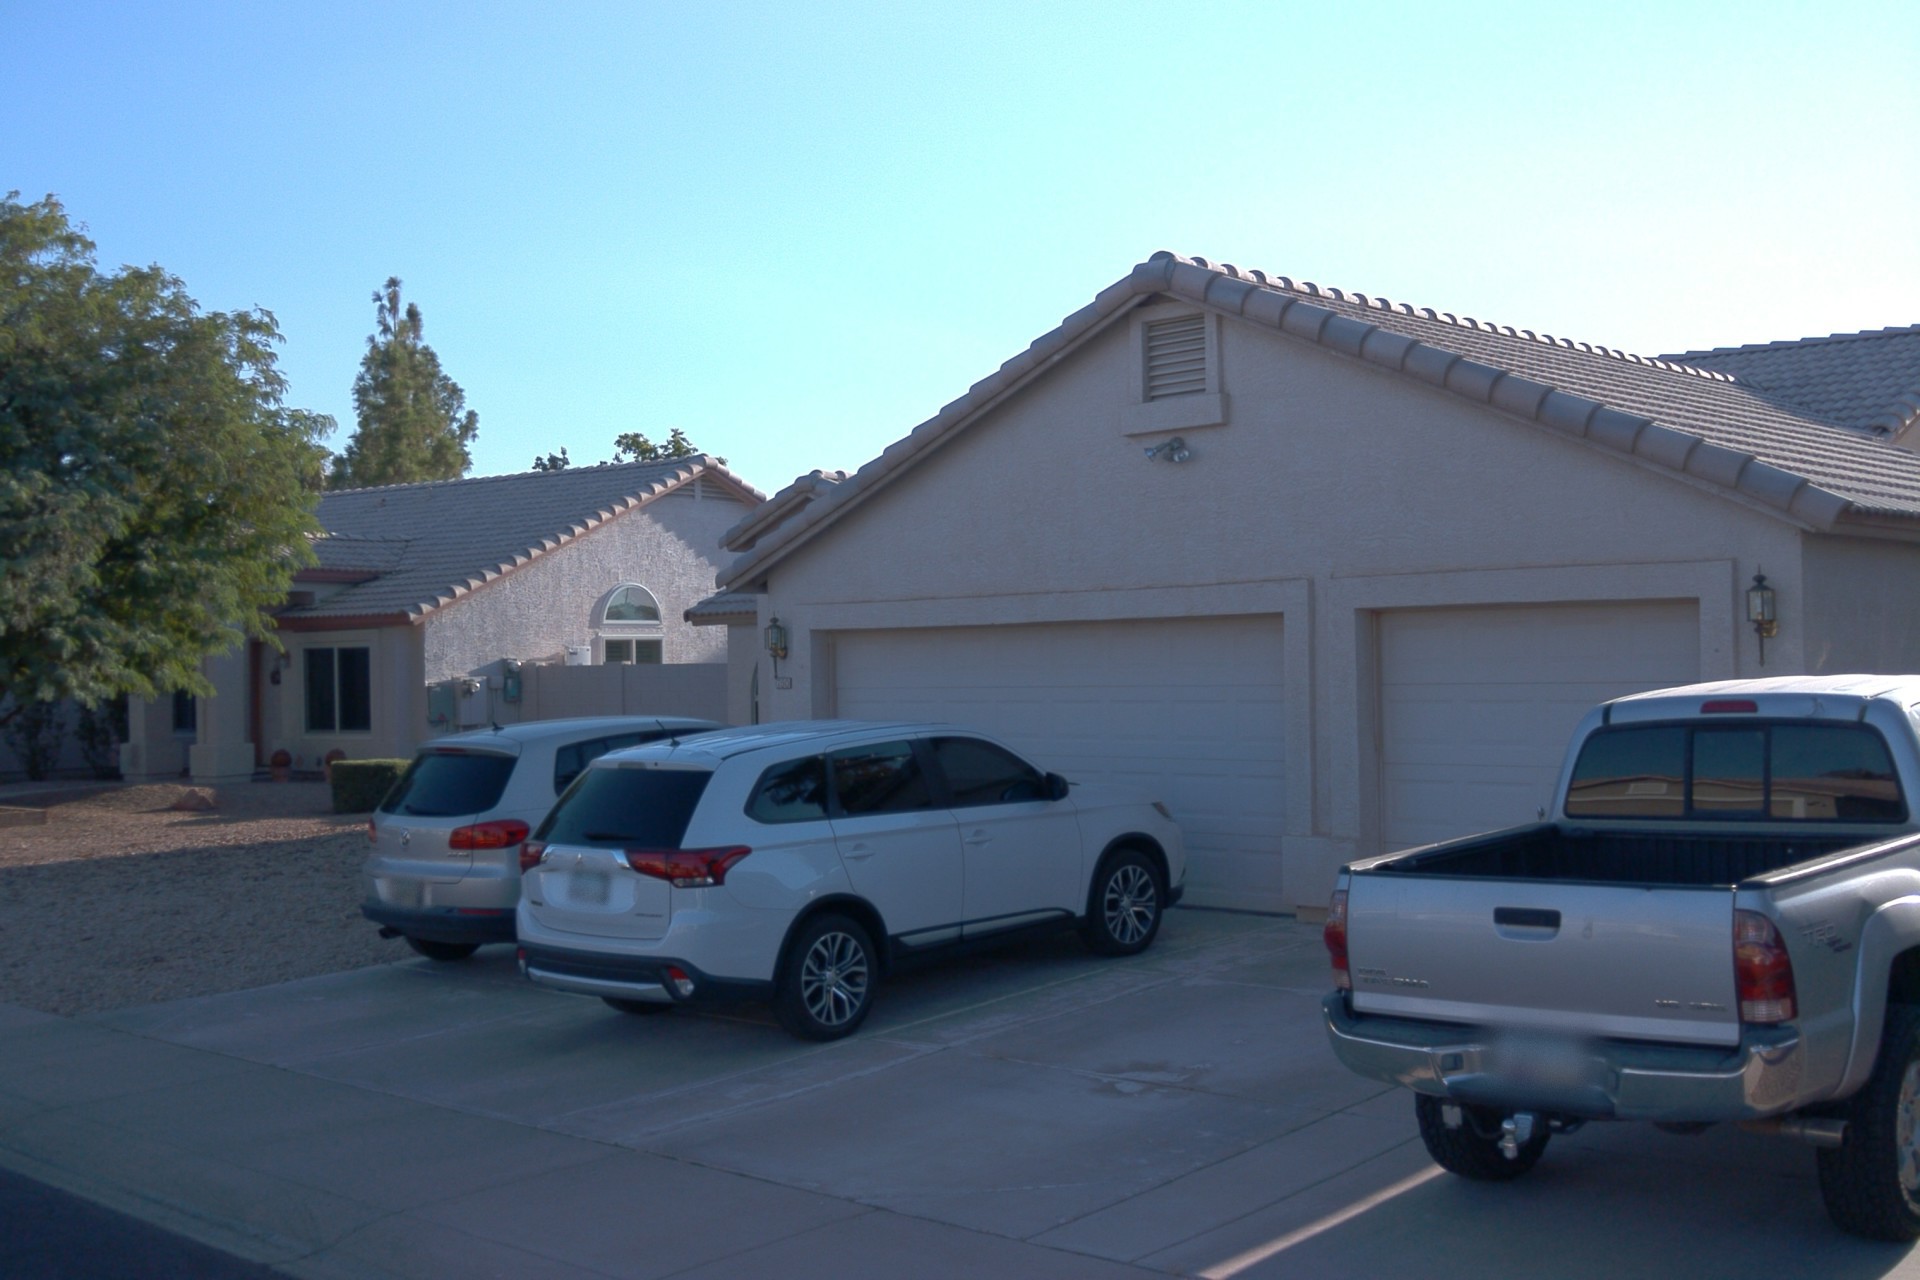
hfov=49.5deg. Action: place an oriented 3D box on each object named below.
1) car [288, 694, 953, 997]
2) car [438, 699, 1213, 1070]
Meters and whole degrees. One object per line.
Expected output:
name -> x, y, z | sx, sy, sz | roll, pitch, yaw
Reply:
car -> -2.320, 1.329, 15.127 | 2.038, 1.790, 4.422 | -2, -1, 43
car -> -0.662, 1.292, 12.793 | 2.140, 1.780, 4.479 | -2, -1, 43
